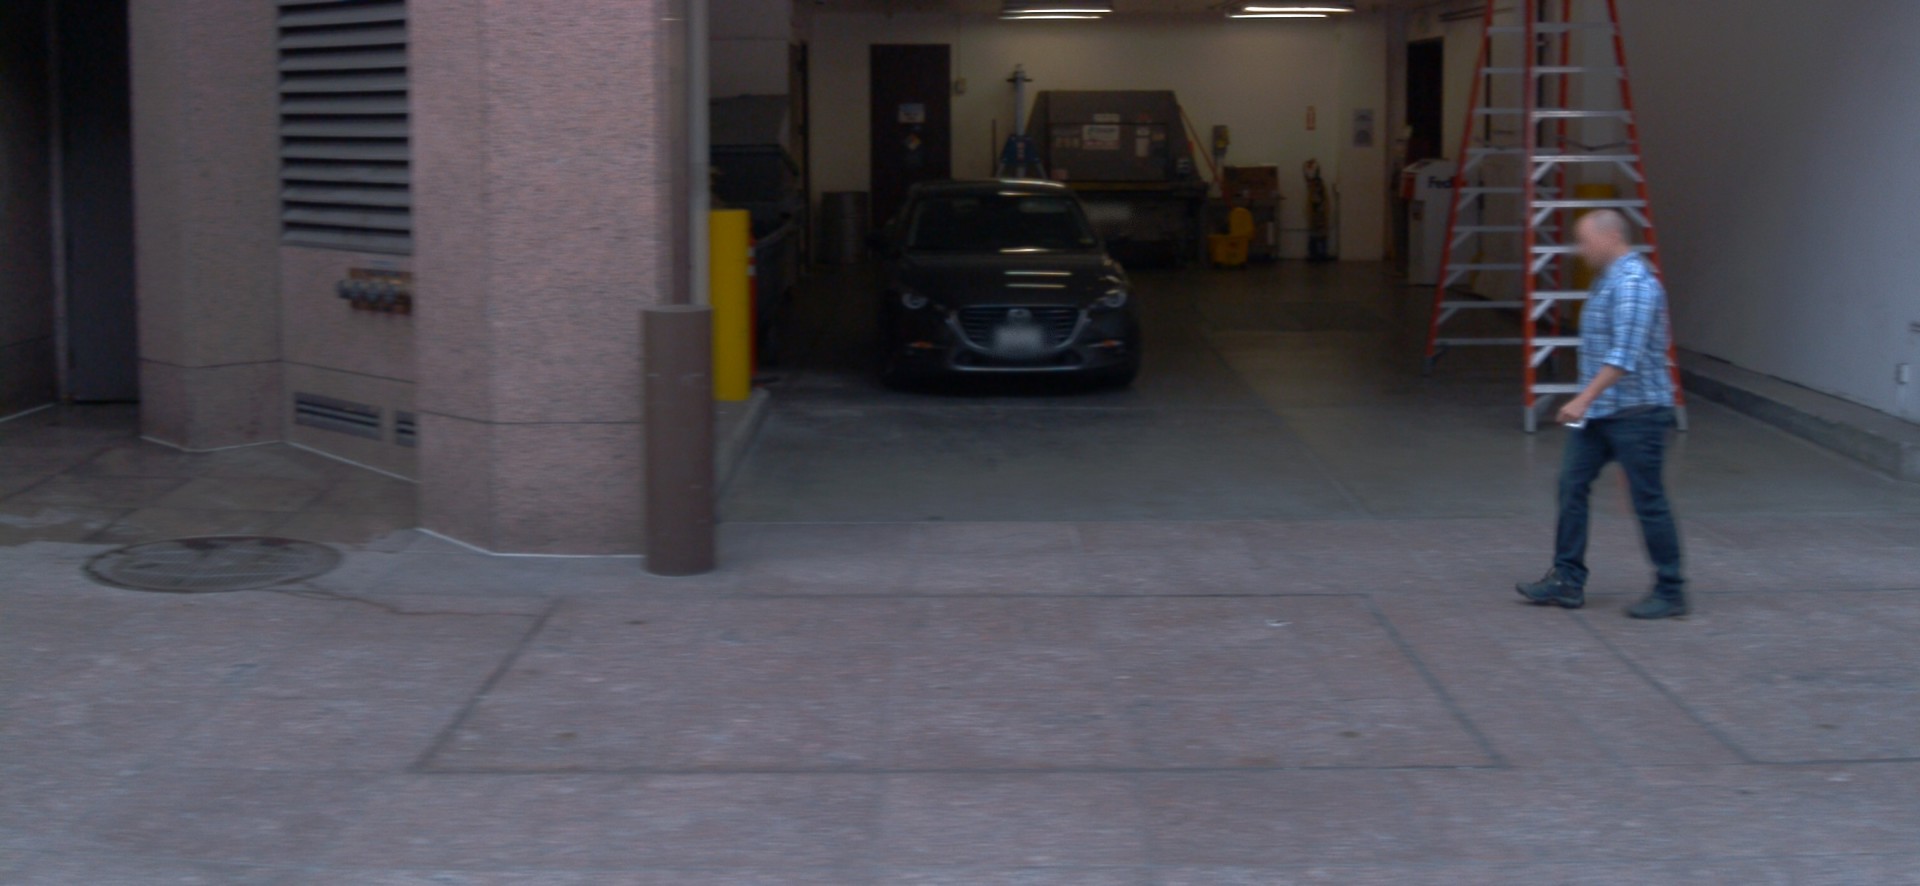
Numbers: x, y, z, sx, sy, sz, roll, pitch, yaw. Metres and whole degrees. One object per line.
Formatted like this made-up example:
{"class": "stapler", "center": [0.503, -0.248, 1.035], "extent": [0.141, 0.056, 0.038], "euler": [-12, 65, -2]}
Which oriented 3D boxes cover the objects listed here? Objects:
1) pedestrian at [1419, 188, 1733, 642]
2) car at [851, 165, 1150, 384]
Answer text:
{"class": "pedestrian", "center": [2.516, -0.155, 8.500], "extent": [1.028, 1.779, 0.880], "euler": [0, 1, -1]}
{"class": "car", "center": [0.165, -1.374, 16.264], "extent": [2.049, 1.494, 4.348], "euler": [0, 5, -3]}
